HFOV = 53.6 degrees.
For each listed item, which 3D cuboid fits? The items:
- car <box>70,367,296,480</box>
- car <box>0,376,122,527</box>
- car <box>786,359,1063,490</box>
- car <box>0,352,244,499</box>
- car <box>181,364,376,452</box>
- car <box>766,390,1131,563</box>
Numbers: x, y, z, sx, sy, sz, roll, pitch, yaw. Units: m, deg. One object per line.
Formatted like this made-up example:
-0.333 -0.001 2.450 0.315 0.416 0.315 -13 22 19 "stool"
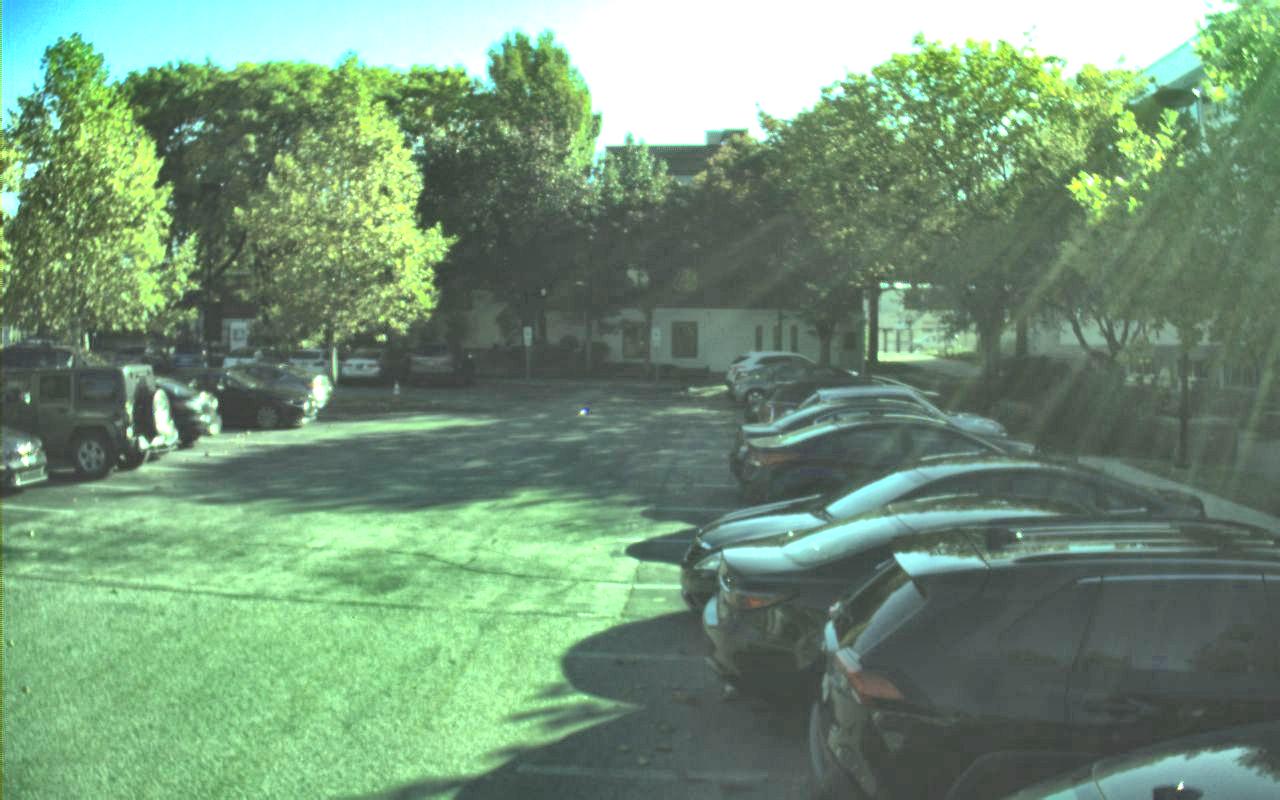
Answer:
-9.626 0.468 24.841 4.466 1.615 1.978 2 17 10 "car"
-10.309 0.769 17.019 4.392 1.589 1.945 1 16 6 "car"
4.714 0.406 20.917 4.510 1.631 1.988 1 16 6 "car"
-9.310 0.424 19.693 4.791 1.842 2.062 0 16 2 "car"
-8.831 0.224 29.787 4.432 1.617 1.963 -1 16 0 "car"
3.819 0.939 15.652 4.442 1.599 1.966 0 16 5 "car"
